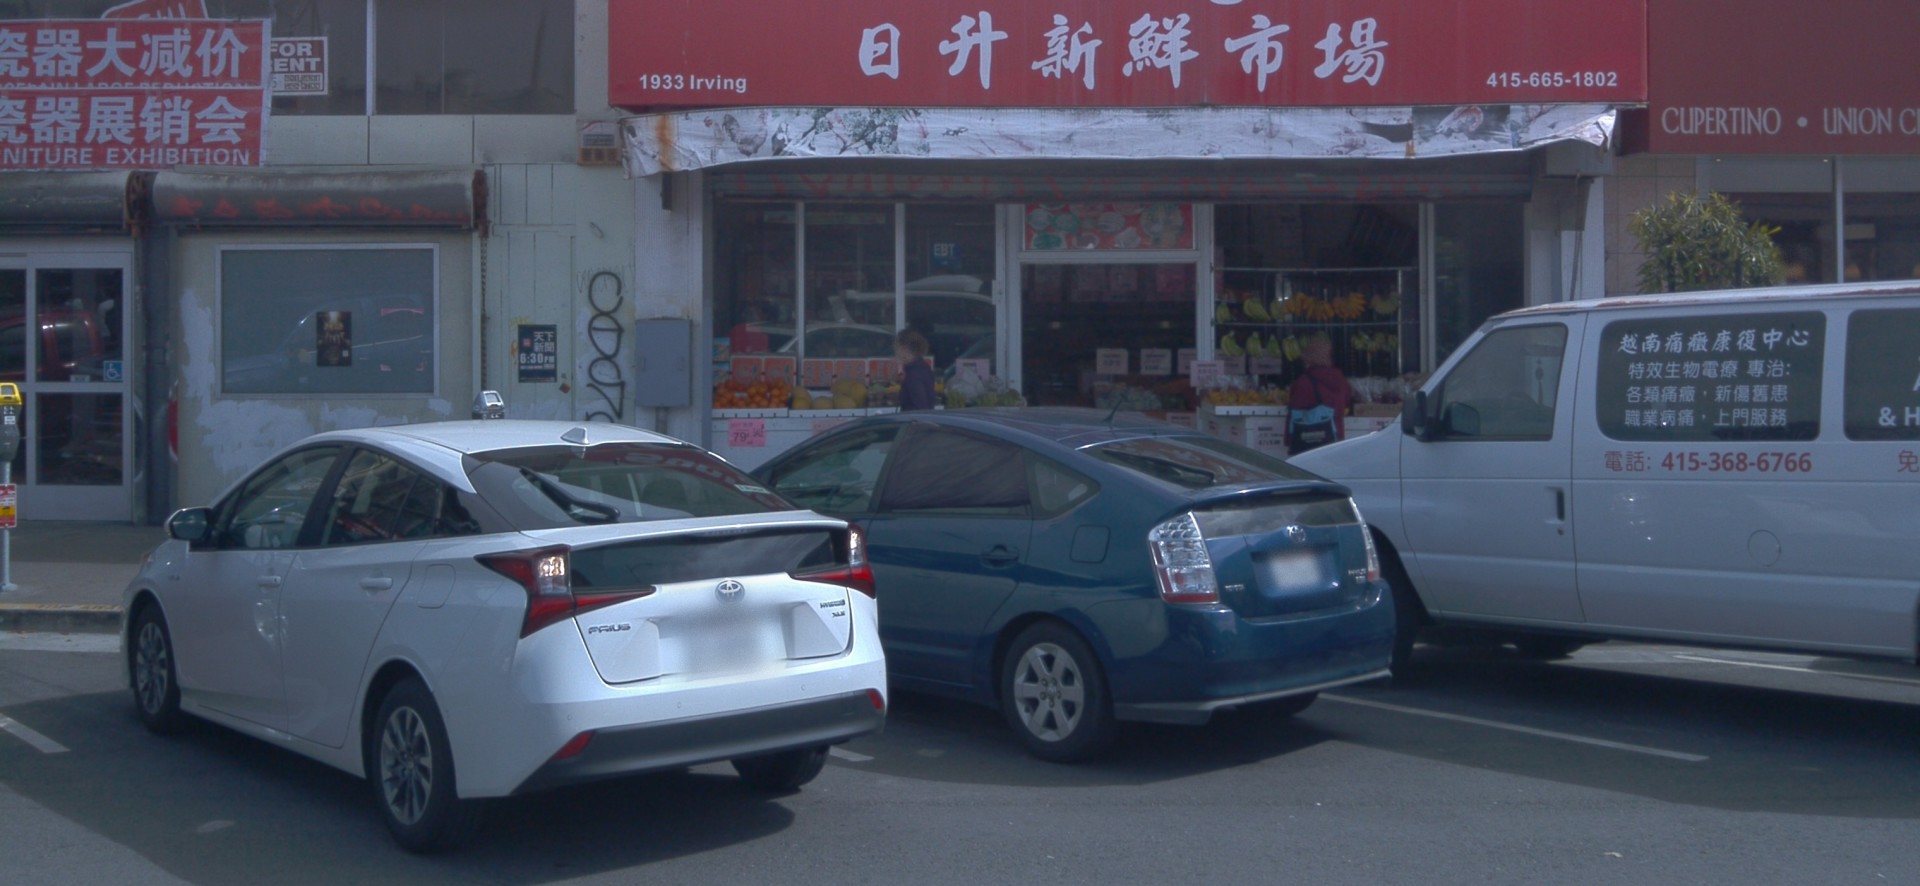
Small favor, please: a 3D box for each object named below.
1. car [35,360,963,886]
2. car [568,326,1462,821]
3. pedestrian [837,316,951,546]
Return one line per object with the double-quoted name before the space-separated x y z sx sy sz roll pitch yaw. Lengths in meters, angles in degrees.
"car" -2.167 0.583 8.800 2.100 1.567 4.268 -3 6 -40
"car" 0.102 0.384 10.335 2.053 1.715 4.227 -3 6 -44
"pedestrian" -0.474 -0.111 15.224 0.769 1.611 0.758 0 1 3
